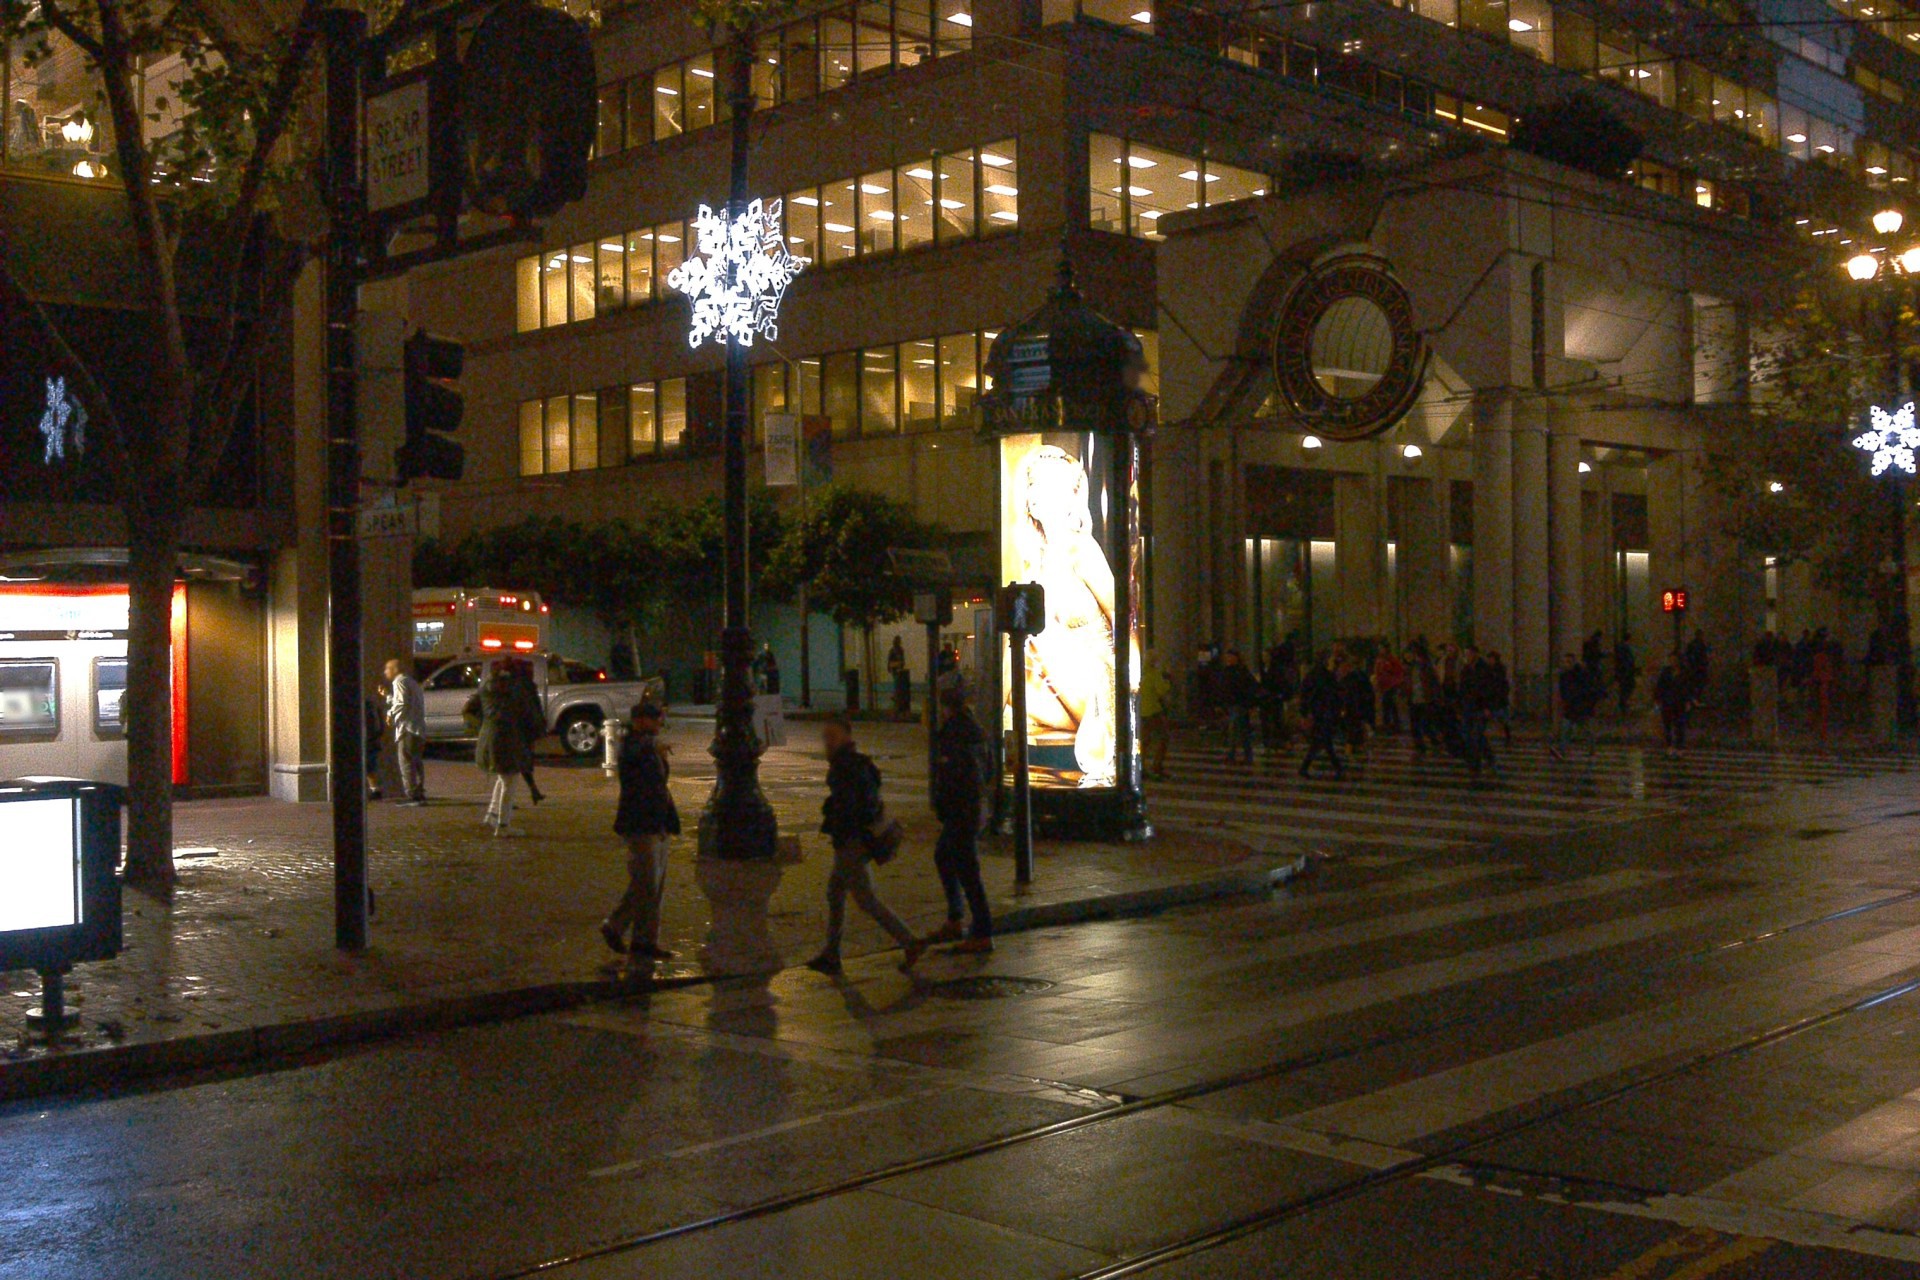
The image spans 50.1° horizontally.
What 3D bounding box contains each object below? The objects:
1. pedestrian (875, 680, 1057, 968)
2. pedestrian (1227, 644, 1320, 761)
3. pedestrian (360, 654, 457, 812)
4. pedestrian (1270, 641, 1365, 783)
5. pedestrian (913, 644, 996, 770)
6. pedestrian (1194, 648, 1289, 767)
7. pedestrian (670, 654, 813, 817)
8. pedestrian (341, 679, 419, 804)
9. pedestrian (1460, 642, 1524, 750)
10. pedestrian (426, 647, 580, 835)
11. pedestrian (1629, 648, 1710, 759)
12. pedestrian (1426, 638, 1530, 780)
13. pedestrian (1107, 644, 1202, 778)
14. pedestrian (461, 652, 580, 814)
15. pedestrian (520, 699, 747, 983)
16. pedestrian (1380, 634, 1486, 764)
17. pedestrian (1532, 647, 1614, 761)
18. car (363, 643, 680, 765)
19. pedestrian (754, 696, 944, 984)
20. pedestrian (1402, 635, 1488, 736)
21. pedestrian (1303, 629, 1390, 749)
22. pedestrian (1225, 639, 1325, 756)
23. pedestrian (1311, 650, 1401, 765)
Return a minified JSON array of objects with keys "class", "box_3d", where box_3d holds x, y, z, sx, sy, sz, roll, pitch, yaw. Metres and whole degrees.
[{"class":"pedestrian","box_3d":[0.047,1.247,14.352,1.008,1.890,0.793,1,1,28]},{"class":"pedestrian","box_3d":[4.980,0.968,32.625,0.913,1.780,1.262,1,1,42]},{"class":"pedestrian","box_3d":[-6.081,1.001,22.645,0.701,1.670,0.878,-1,1,-42]},{"class":"pedestrian","box_3d":[4.896,0.958,28.103,1.066,1.880,0.763,-1,1,-39]},{"class":"pedestrian","box_3d":[-0.084,1.005,31.190,0.753,1.850,1.064,1,1,41]},{"class":"pedestrian","box_3d":[4.218,0.995,30.785,1.145,1.730,0.839,-1,1,-29]},{"class":"pedestrian","box_3d":[-2.366,1.005,22.278,1.135,1.670,1.047,-1,1,-45]},{"class":"pedestrian","box_3d":[-6.525,1.124,23.105,0.636,1.350,0.644,-1,1,-40]},{"class":"pedestrian","box_3d":[8.942,0.922,34.532,0.799,1.770,0.725,-1,1,-43]},{"class":"pedestrian","box_3d":[-4.417,0.945,19.891,0.908,1.720,1.120,1,1,39]},{"class":"pedestrian","box_3d":[10.768,0.944,31.184,0.886,1.620,1.083,1,1,35]},{"class":"pedestrian","box_3d":[7.017,0.908,27.842,1.161,1.850,0.837,-1,1,-40]},{"class":"pedestrian","box_3d":[2.672,0.956,28.259,1.045,1.780,0.780,-1,1,-37]},{"class":"pedestrian","box_3d":[-4.833,1.000,22.628,0.806,1.710,0.985,1,1,36]},{"class":"pedestrian","box_3d":[-2.166,1.297,13.760,1.059,1.740,1.170,0,1,20]},{"class":"pedestrian","box_3d":[7.210,0.879,31.295,1.416,1.920,0.743,0,1,-25]},{"class":"pedestrian","box_3d":[9.213,0.943,30.866,1.102,1.650,0.699,-1,1,-43]},{"class":"car","box_3d":[-7.340,1.055,34.748,4.910,1.960,1.934,0,1,0]},{"class":"pedestrian","box_3d":[-0.731,1.292,13.618,1.041,1.790,0.698,0,1,25]},{"class":"pedestrian","box_3d":[8.307,0.764,35.184,1.080,1.680,1.025,1,1,39]},{"class":"pedestrian","box_3d":[6.305,0.776,33.491,0.963,1.900,1.058,1,1,44]},{"class":"pedestrian","box_3d":[5.003,0.890,32.596,1.035,1.770,1.284,1,1,42]},{"class":"pedestrian","box_3d":[6.009,1.010,31.182,1.125,1.690,0.784,-1,1,-36]}]
